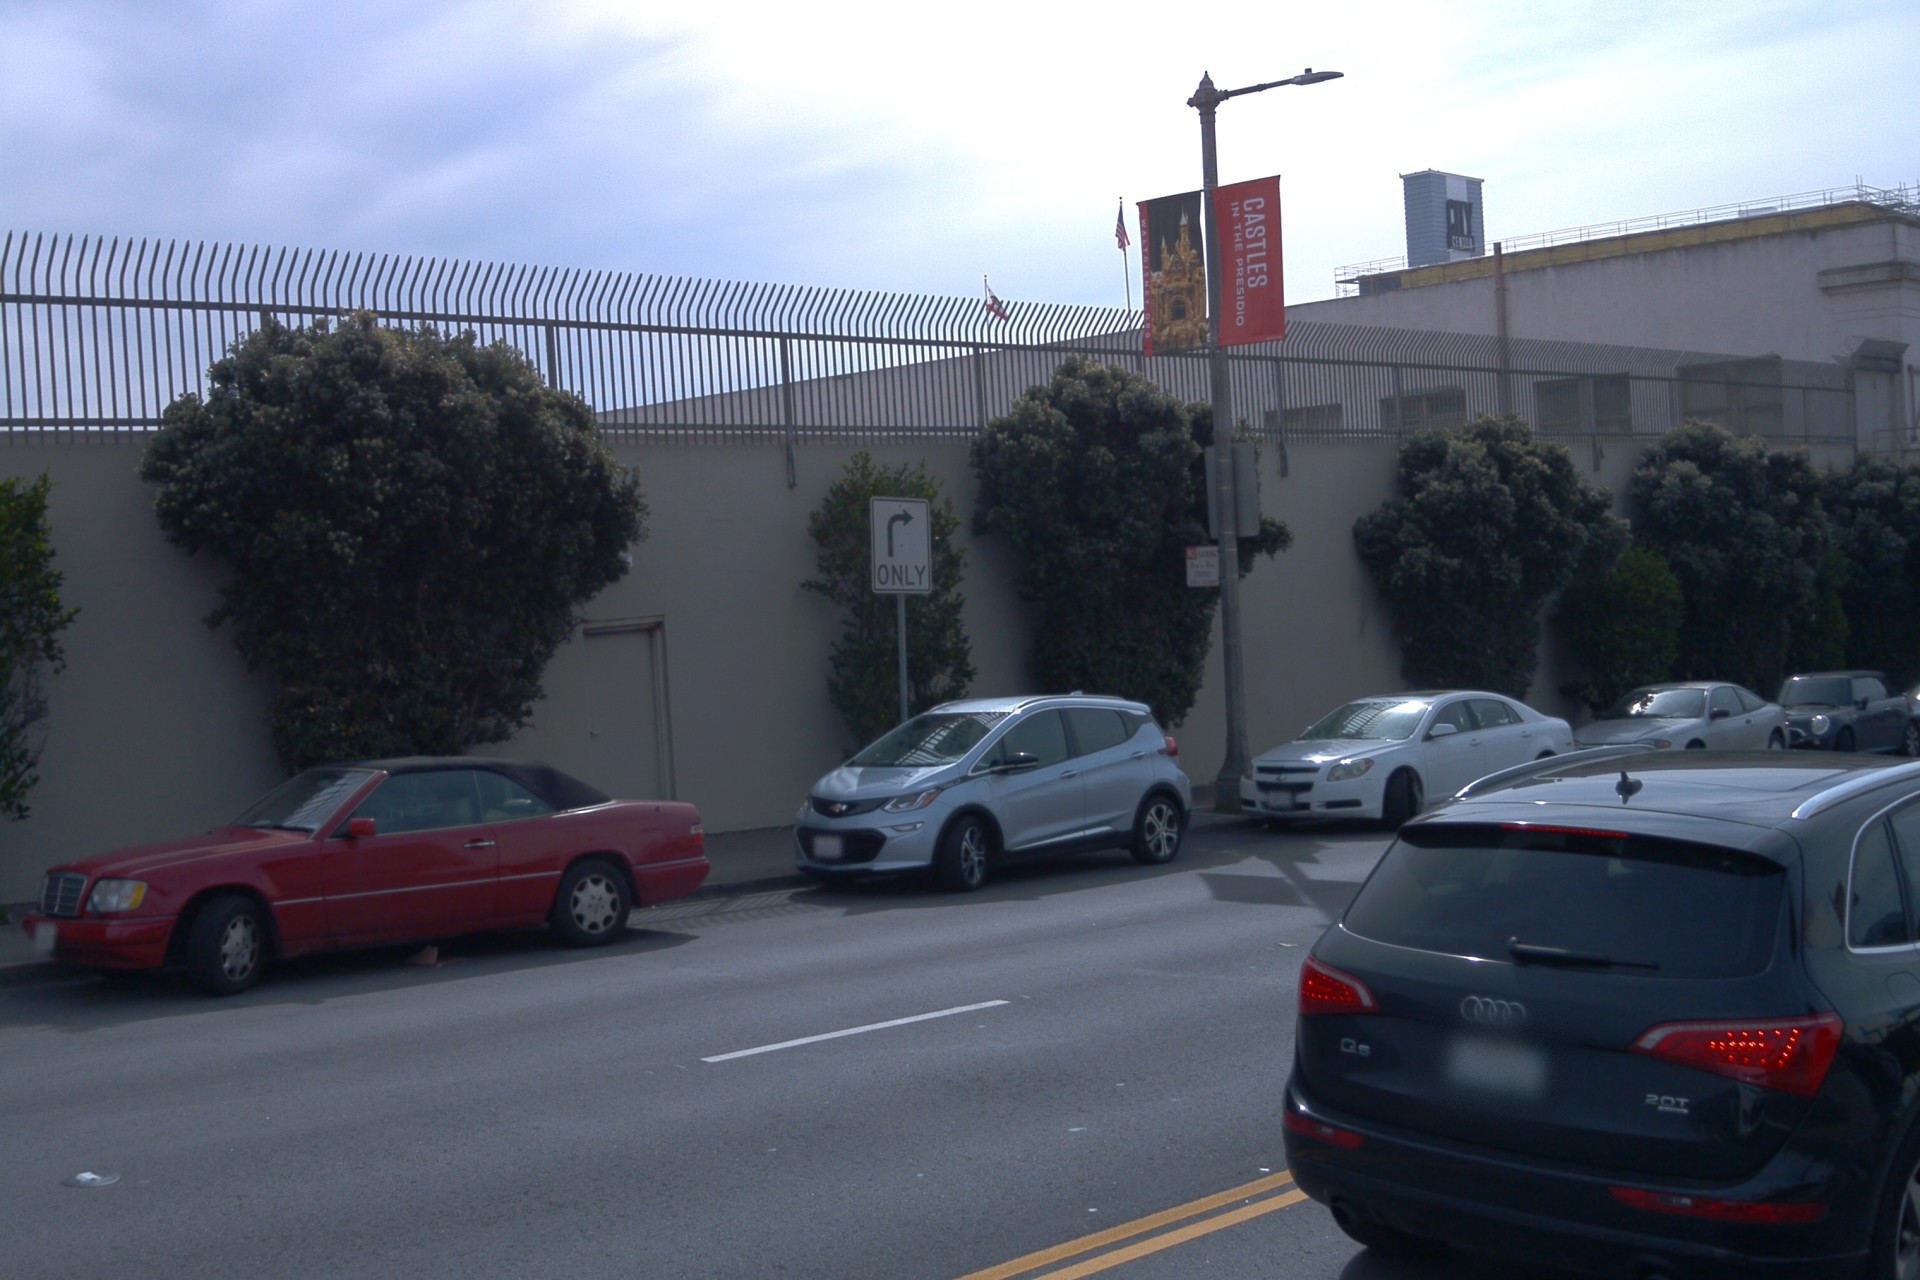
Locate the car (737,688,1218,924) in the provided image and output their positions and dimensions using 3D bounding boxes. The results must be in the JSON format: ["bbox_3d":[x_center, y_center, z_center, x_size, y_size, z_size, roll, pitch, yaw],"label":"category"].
[{"bbox_3d":[0.256,1.355,18.349,1.966,1.680,4.214,1,1,43],"label":"car"}]

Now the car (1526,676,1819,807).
[{"bbox_3d":[9.742,1.301,27.900,1.978,1.480,4.651,1,1,44],"label":"car"}]

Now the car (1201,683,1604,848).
[{"bbox_3d":[5.078,1.321,23.182,4.878,1.490,2.032,-1,1,-43],"label":"car"}]
